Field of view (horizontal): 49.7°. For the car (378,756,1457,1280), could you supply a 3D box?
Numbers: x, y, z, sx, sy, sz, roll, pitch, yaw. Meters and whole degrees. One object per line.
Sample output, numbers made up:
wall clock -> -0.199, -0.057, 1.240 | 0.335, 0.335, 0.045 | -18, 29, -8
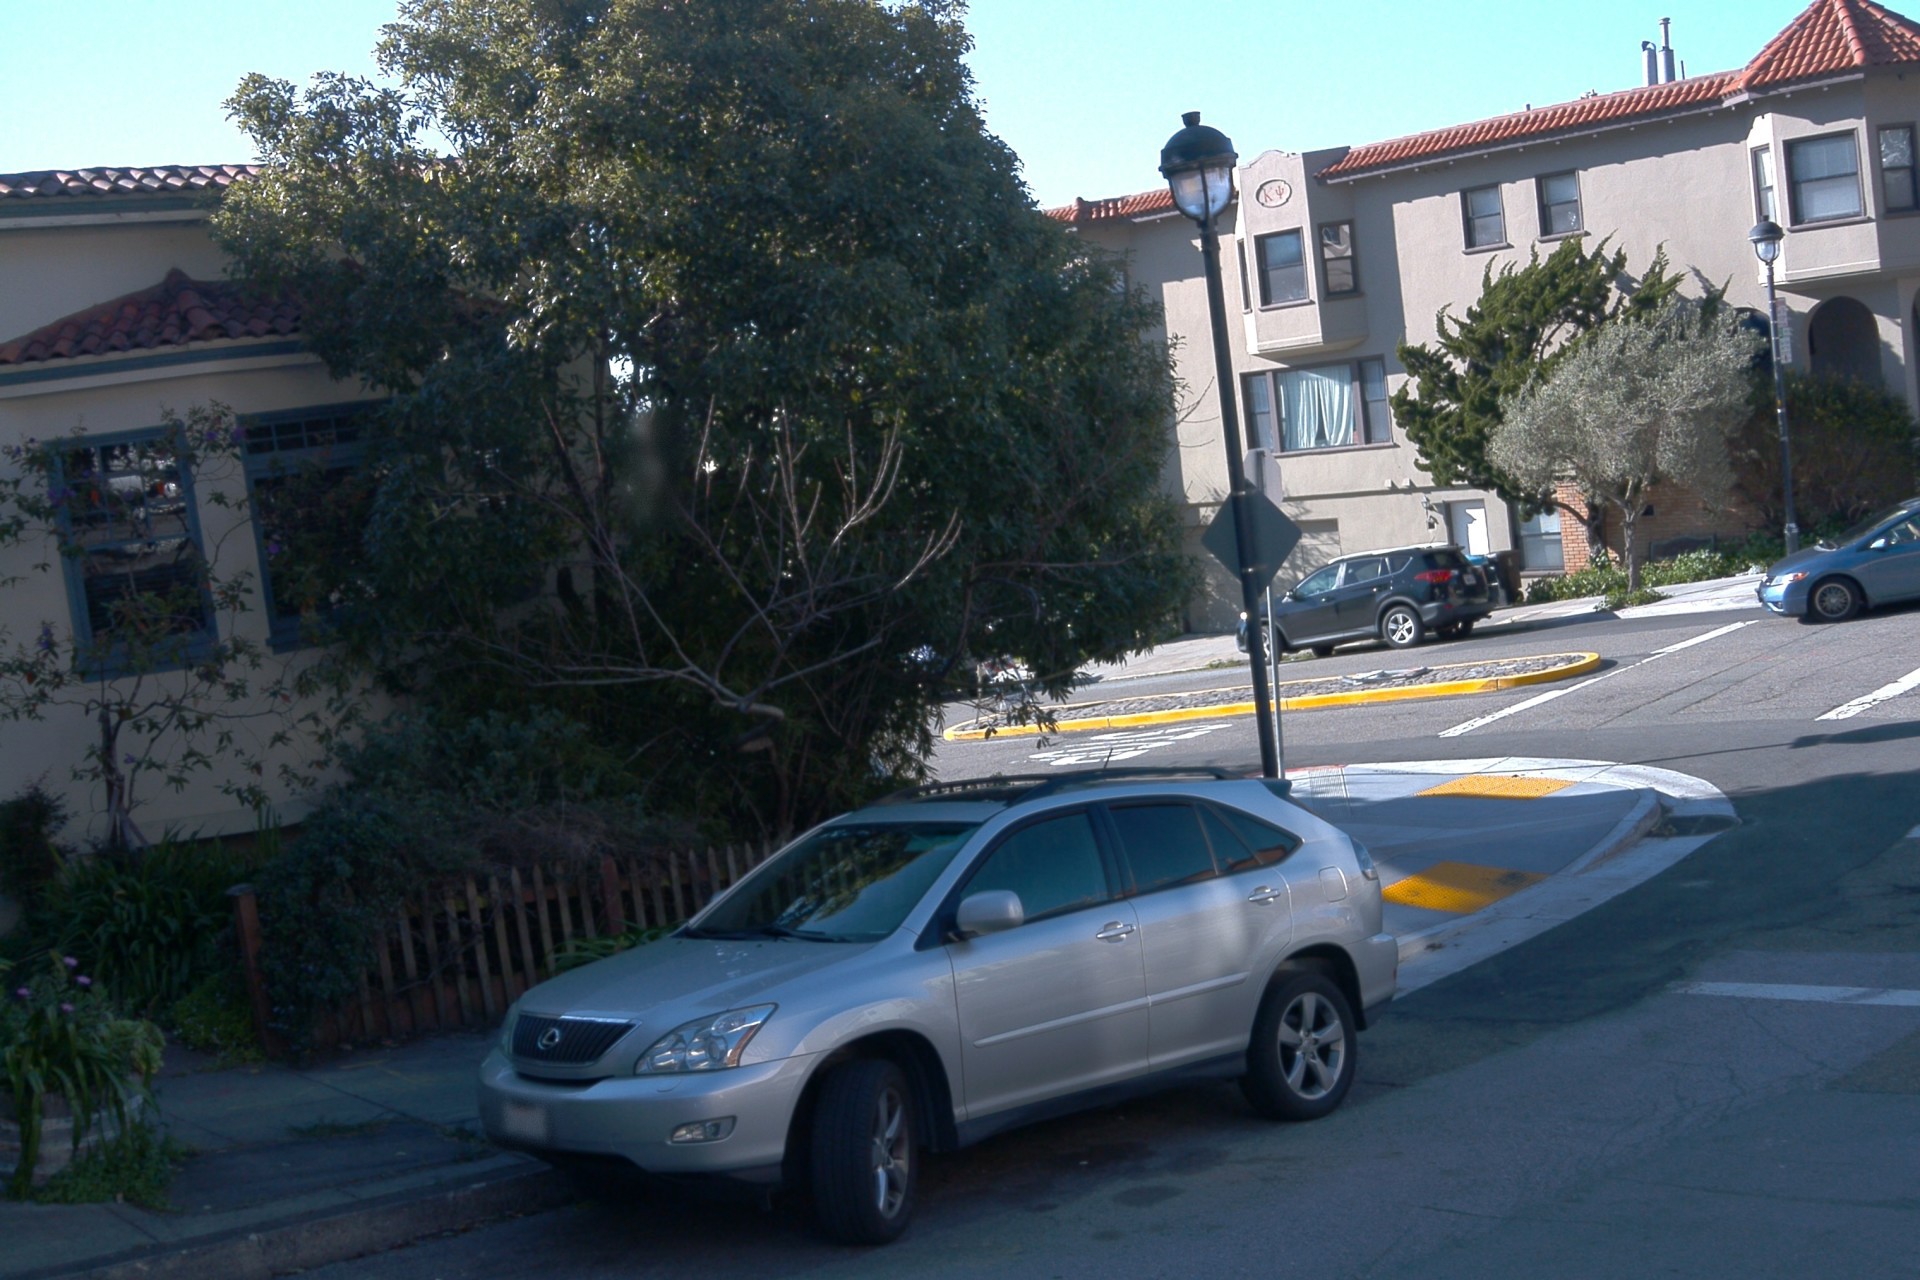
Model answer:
car -> 0.017, 1.580, 9.410 | 4.666, 1.810, 2.097 | -1, 0, -42

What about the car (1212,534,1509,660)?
car -> 6.799, -0.692, 35.530 | 2.204, 2.020, 4.526 | 0, 0, -45
